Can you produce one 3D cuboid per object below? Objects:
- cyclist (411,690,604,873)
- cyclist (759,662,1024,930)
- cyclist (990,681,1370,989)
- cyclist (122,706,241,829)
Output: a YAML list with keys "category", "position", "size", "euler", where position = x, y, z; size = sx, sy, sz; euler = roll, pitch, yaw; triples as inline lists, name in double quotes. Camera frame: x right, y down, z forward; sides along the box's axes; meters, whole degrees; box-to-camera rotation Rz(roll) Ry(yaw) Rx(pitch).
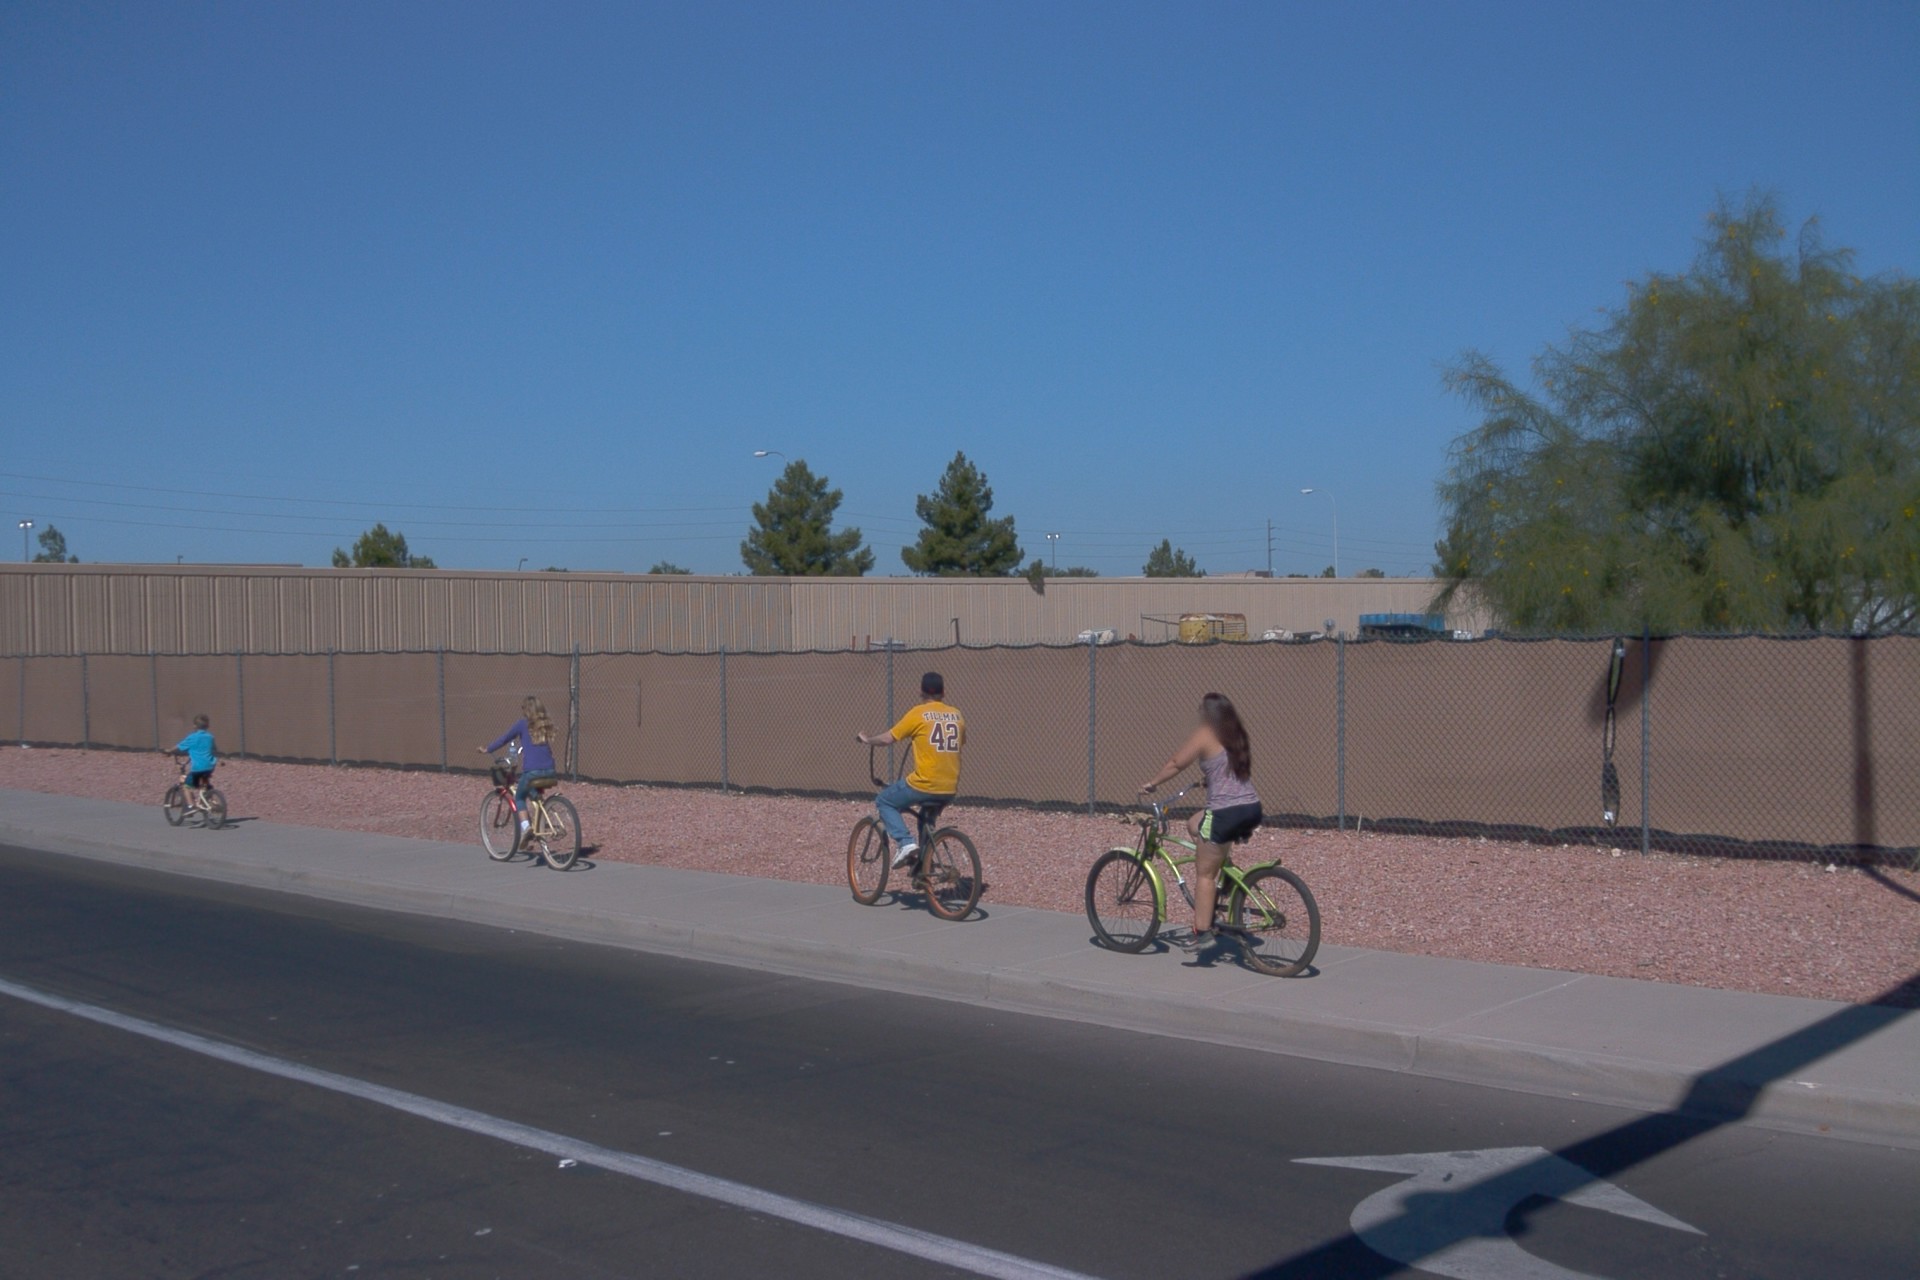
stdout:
- category: "cyclist"
  position: [-4.139, 1.247, 18.944]
  size: [0.813, 1.570, 1.967]
  euler: [0, -1, -43]
- category: "cyclist"
  position: [-0.537, 1.107, 15.514]
  size: [0.933, 1.860, 1.937]
  euler: [0, -1, -41]
- category: "cyclist"
  position: [1.330, 1.138, 12.999]
  size: [1.020, 1.740, 2.214]
  euler: [0, -1, -42]
- category: "cyclist"
  position: [-8.737, 1.412, 23.343]
  size: [1.444, 1.320, 0.670]
  euler: [-2, -1, 43]
